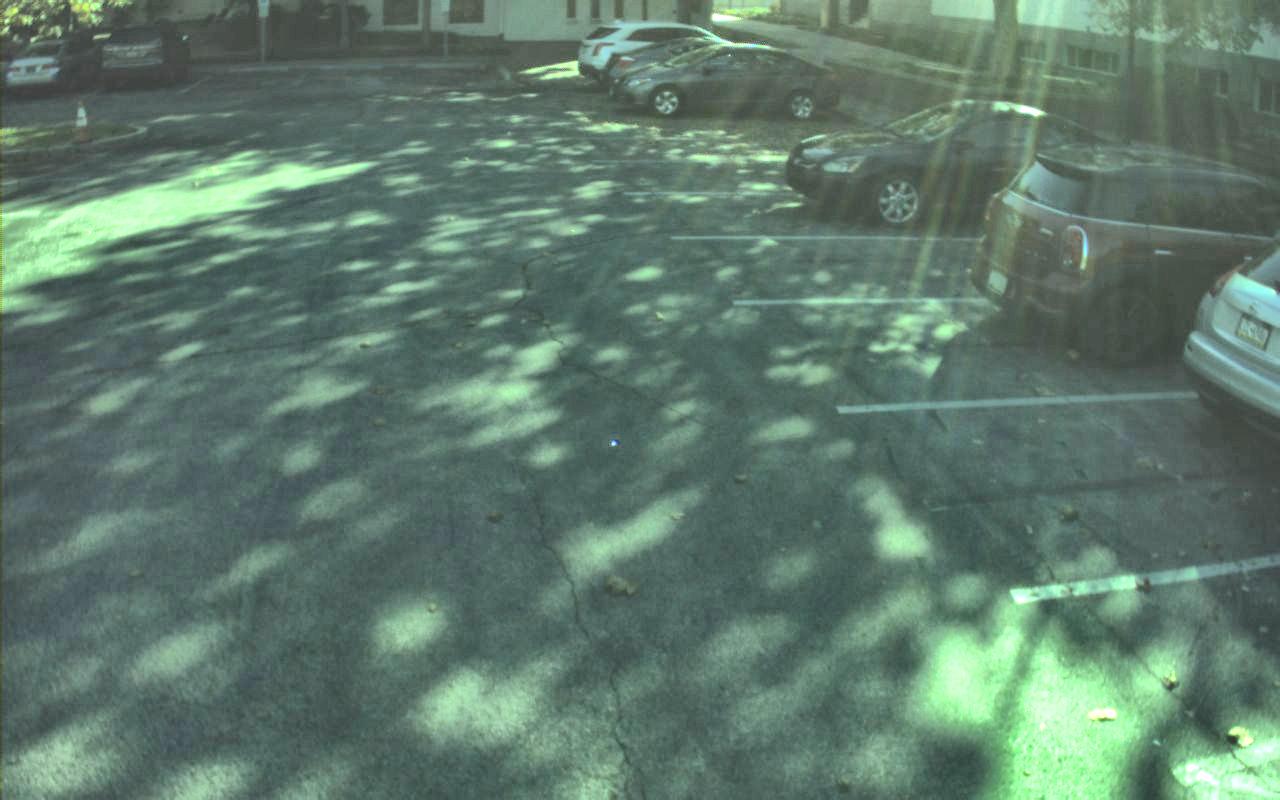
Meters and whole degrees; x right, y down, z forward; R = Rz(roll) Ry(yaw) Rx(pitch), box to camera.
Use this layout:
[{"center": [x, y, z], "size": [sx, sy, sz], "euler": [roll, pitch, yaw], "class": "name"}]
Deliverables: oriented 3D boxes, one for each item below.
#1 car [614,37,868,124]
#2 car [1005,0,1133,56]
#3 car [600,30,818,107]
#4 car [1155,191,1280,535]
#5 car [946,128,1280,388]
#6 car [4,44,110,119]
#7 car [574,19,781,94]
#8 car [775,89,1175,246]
[{"center": [1.948, -6.320, 24.215], "size": [4.662, 1.591, 1.994], "euler": [-4, 16, -9], "class": "car"}, {"center": [15.214, -13.371, 41.488], "size": [2.173, 2.078, 5.569], "euler": [-4, 17, -11], "class": "car"}, {"center": [1.449, -7.154, 26.492], "size": [4.320, 1.566, 1.928], "euler": [-5, 17, -12], "class": "car"}, {"center": [5.710, -0.458, 7.190], "size": [4.303, 1.615, 1.916], "euler": [-5, 17, -13], "class": "car"}, {"center": [4.941, -1.325, 9.745], "size": [4.459, 1.669, 1.956], "euler": [-4, 17, -11], "class": "car"}, {"center": [-15.699, -8.556, 29.951], "size": [1.969, 1.652, 4.511], "euler": [-5, 17, -12], "class": "car"}, {"center": [0.842, -8.049, 28.792], "size": [4.483, 1.657, 1.968], "euler": [-5, 17, -13], "class": "car"}, {"center": [4.052, -2.855, 14.543], "size": [4.553, 1.591, 1.980], "euler": [-4, 17, -10], "class": "car"}]
